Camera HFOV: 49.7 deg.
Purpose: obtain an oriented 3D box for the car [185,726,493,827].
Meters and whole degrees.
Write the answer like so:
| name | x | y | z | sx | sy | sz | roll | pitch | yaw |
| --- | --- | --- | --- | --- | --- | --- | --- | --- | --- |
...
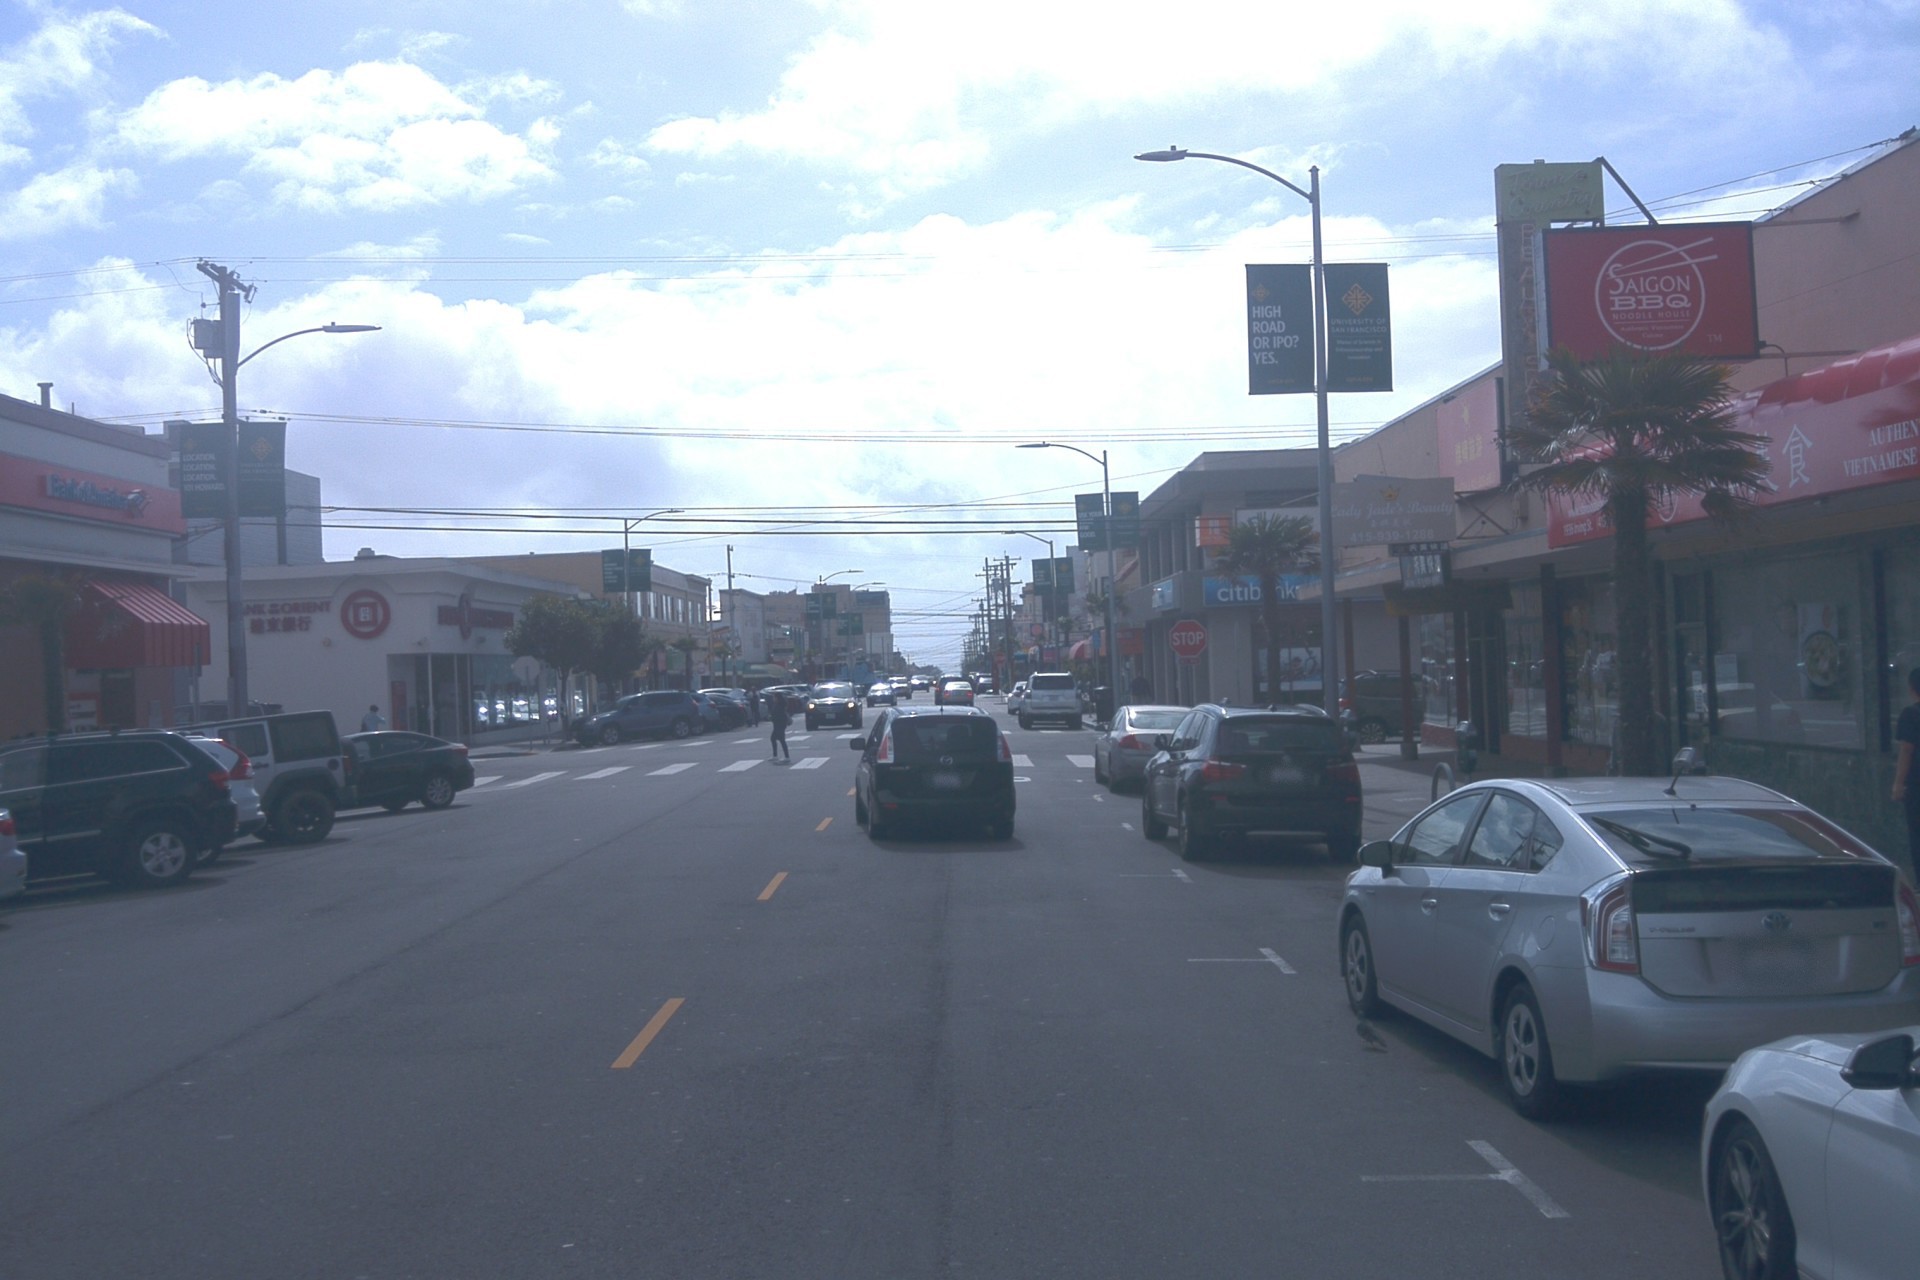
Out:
| name | x | y | z | sx | sy | sz | roll | pitch | yaw |
| --- | --- | --- | --- | --- | --- | --- | --- | --- | --- |
| car | -10.506 | 2.271 | 35.272 | 4.590 | 1.478 | 2.019 | 1 | -1 | -43 |

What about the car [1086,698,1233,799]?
| name | x | y | z | sx | sy | sz | roll | pitch | yaw |
| --- | --- | --- | --- | --- | --- | --- | --- | --- | --- |
| car | 3.335 | 1.798 | 35.492 | 1.988 | 1.532 | 4.724 | 0 | -1 | -1 |

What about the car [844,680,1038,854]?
| name | x | y | z | sx | sy | sz | roll | pitch | yaw |
| --- | --- | --- | --- | --- | --- | --- | --- | --- | --- |
| car | -0.342 | 1.509 | 26.301 | 2.097 | 1.972 | 4.569 | 0 | -1 | -5 |

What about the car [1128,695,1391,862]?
| name | x | y | z | sx | sy | sz | roll | pitch | yaw |
| --- | --- | --- | --- | --- | --- | --- | --- | --- | --- |
| car | 3.230 | 1.468 | 23.398 | 2.061 | 1.620 | 4.747 | 0 | -1 | -3 |

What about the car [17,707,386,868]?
| name | x | y | z | sx | sy | sz | roll | pitch | yaw |
| --- | --- | --- | --- | --- | --- | --- | --- | --- | --- |
| car | -10.401 | 1.948 | 28.521 | 4.419 | 1.976 | 2.015 | 0 | -1 | -34 |
